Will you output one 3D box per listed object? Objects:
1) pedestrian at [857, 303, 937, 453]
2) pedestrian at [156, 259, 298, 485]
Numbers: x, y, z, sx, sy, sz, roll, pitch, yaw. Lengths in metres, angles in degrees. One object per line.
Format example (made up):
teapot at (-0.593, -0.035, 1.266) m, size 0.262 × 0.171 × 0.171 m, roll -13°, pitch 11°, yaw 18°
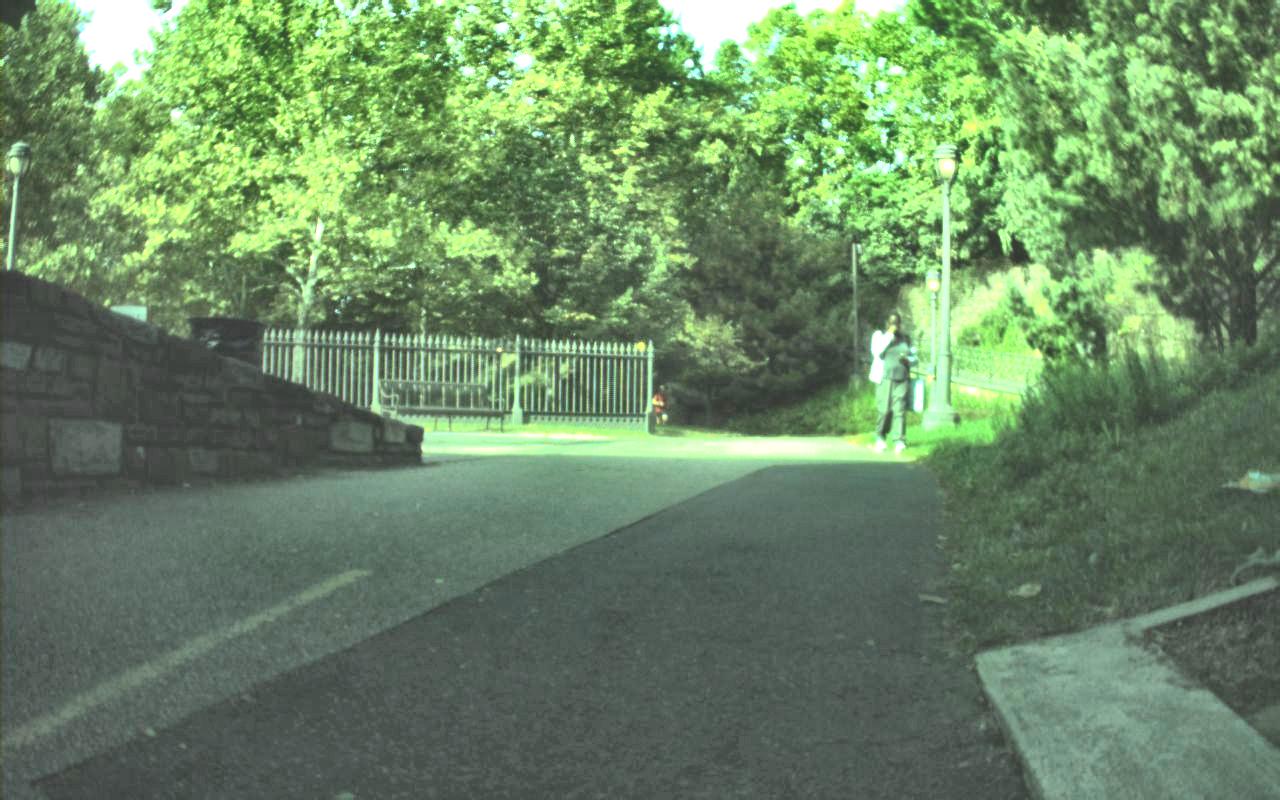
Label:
pedestrian at (3.008, -0.254, 14.620) m, size 0.800 × 1.705 × 0.828 m, roll 0°, pitch 0°, yaw 0°
pedestrian at (-3.174, -0.204, 9.212) m, size 0.795 × 1.633 × 0.831 m, roll 1°, pitch 0°, yaw 17°
